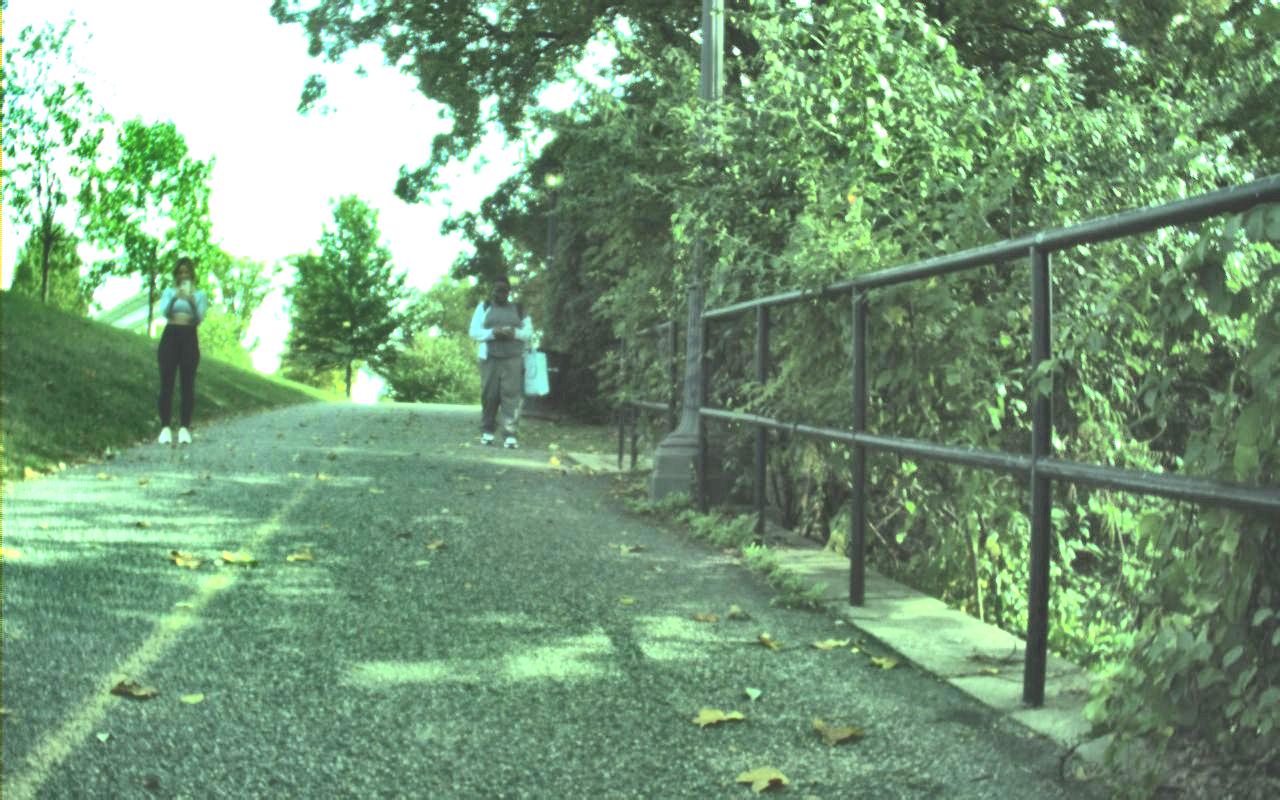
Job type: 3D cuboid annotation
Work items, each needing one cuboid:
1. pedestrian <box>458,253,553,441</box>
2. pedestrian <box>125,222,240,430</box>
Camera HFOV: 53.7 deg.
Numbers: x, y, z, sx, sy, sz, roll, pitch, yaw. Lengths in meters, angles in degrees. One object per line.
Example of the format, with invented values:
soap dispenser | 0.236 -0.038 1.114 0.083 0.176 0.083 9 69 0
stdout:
pedestrian | -1.313 -0.498 12.119 0.822 1.744 0.830 0 0 -13
pedestrian | -3.931 -0.600 10.133 0.750 1.695 0.752 1 0 42
